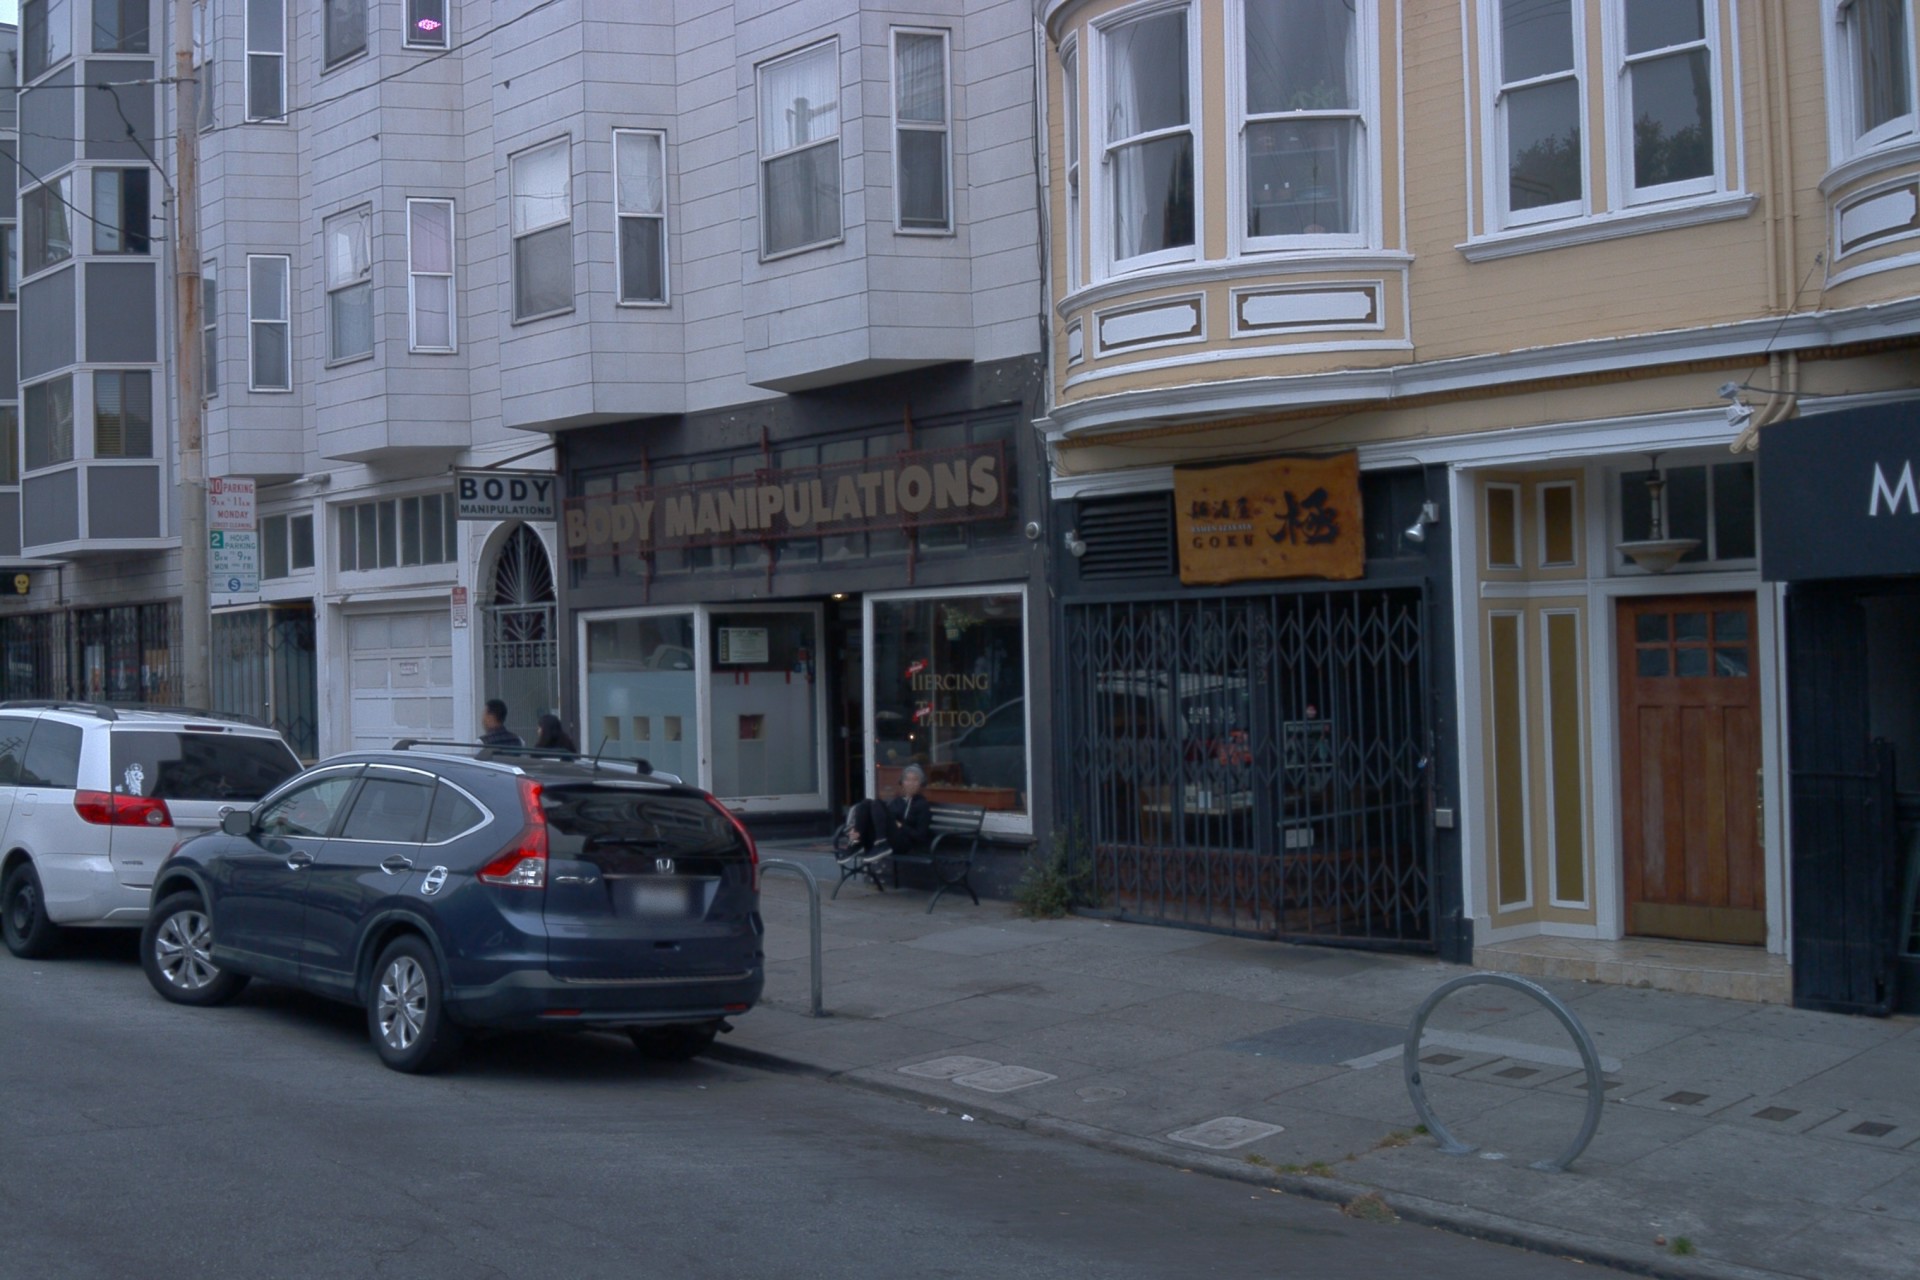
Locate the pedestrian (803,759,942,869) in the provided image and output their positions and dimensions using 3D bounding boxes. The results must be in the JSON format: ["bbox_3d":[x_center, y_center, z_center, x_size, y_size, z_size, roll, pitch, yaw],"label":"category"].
[{"bbox_3d":[-0.714,1.399,16.809,0.723,0.790,0.902,-1,1,-42],"label":"pedestrian"}]

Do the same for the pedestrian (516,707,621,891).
[{"bbox_3d":[-3.491,1.395,18.419,0.679,1.560,0.635,-1,1,-42],"label":"pedestrian"}]

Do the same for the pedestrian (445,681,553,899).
[{"bbox_3d":[-4.033,1.286,18.073,0.636,1.824,0.737,-1,1,-42],"label":"pedestrian"}]

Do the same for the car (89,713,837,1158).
[{"bbox_3d":[-3.069,1.475,12.096,4.668,1.880,2.104,0,1,45],"label":"car"}]
